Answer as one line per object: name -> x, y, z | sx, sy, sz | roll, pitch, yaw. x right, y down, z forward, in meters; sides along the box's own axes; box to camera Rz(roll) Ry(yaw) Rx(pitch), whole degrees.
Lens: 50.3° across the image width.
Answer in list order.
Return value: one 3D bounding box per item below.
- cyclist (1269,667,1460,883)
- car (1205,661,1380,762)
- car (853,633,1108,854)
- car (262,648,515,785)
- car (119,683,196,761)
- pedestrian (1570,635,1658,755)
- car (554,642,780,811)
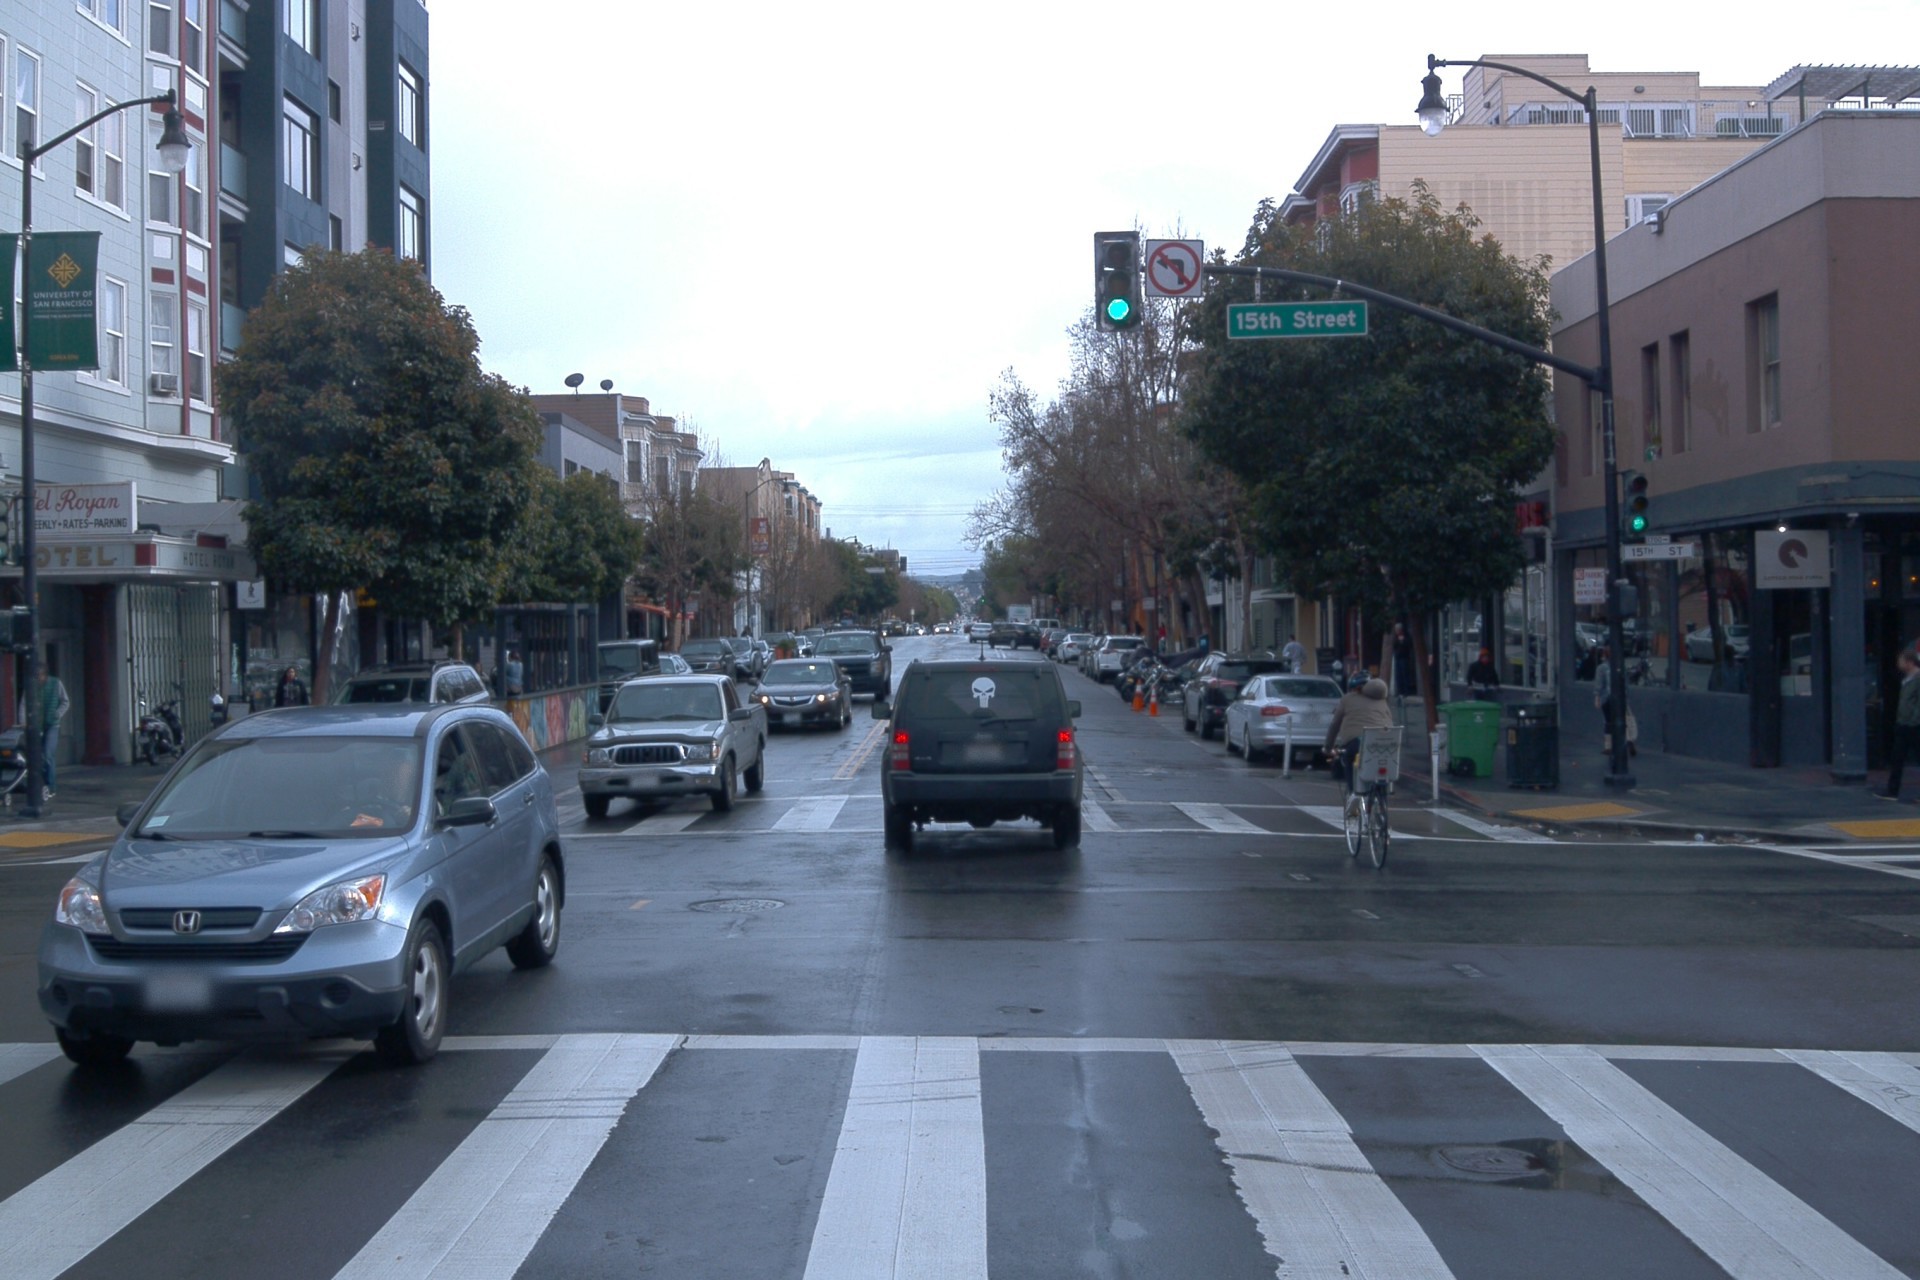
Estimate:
cyclist -> 3.449, 1.116, 17.682 | 1.265, 1.710, 2.011 | 1, 0, 1
car -> 5.485, 1.148, 34.358 | 2.078, 1.490, 4.719 | 0, 0, -1
car -> 0.175, 0.891, 19.921 | 2.194, 1.885, 4.386 | 1, 0, 0
car -> -8.721, 1.099, 31.798 | 2.242, 1.870, 5.560 | 1, 0, 1
car -> -13.598, 1.378, 34.681 | 0.637, 1.234, 1.930 | 0, 0, -3
pedestrian -> 10.053, 0.832, 31.464 | 0.996, 1.800, 0.926 | 0, 0, -4
car -> -3.489, 0.967, 25.359 | 1.970, 1.830, 5.201 | 1, 0, 1
